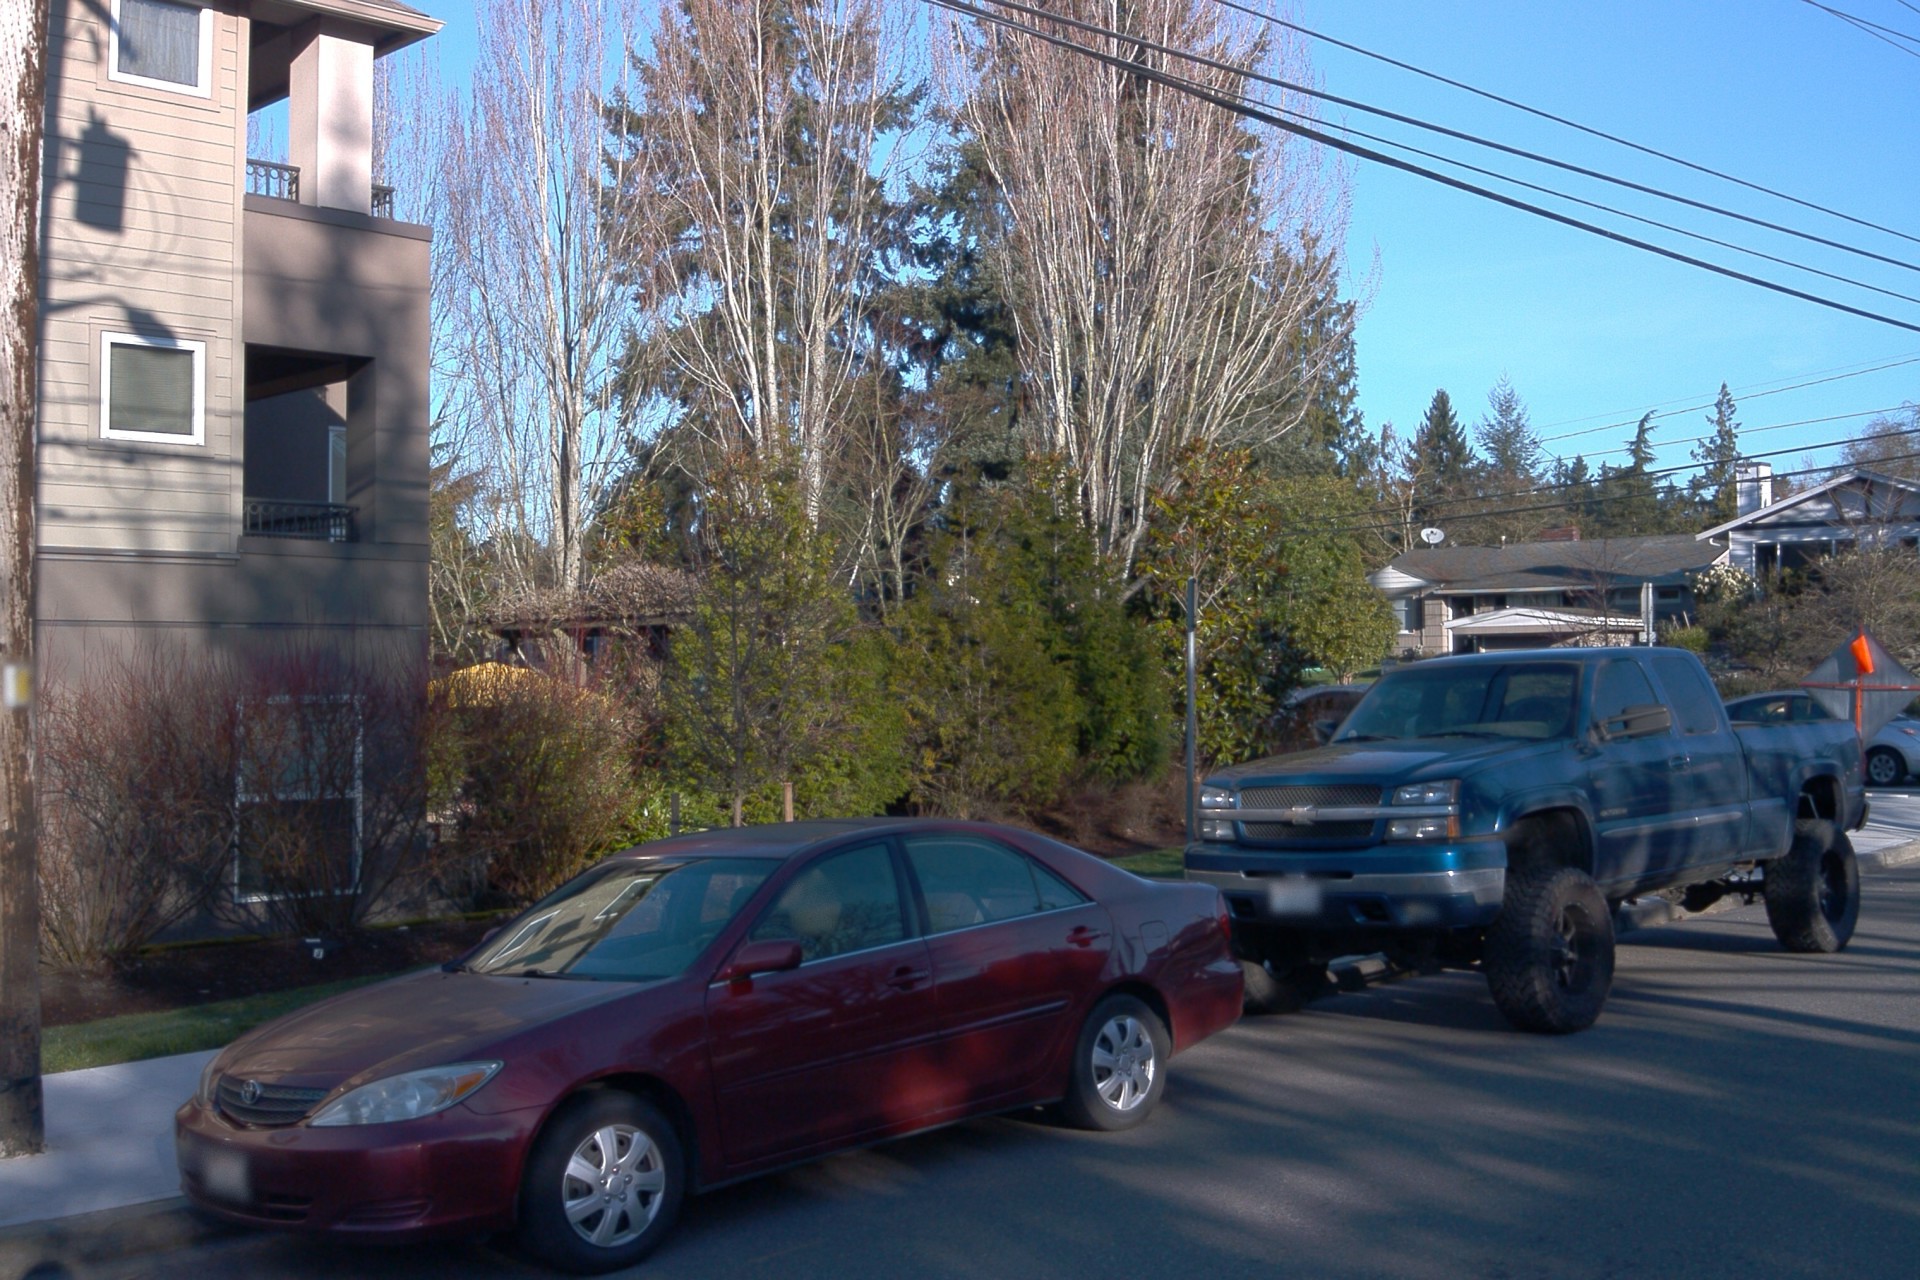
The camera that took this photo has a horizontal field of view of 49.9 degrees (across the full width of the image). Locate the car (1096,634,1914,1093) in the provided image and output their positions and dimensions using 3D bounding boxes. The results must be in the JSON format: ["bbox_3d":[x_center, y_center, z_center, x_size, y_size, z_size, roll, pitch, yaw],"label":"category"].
[{"bbox_3d":[3.766,1.106,13.294,2.480,2.220,6.010,1,1,44],"label":"car"}]

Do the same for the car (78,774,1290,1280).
[{"bbox_3d":[-0.886,1.519,8.764,2.178,1.510,4.777,1,1,44],"label":"car"}]
